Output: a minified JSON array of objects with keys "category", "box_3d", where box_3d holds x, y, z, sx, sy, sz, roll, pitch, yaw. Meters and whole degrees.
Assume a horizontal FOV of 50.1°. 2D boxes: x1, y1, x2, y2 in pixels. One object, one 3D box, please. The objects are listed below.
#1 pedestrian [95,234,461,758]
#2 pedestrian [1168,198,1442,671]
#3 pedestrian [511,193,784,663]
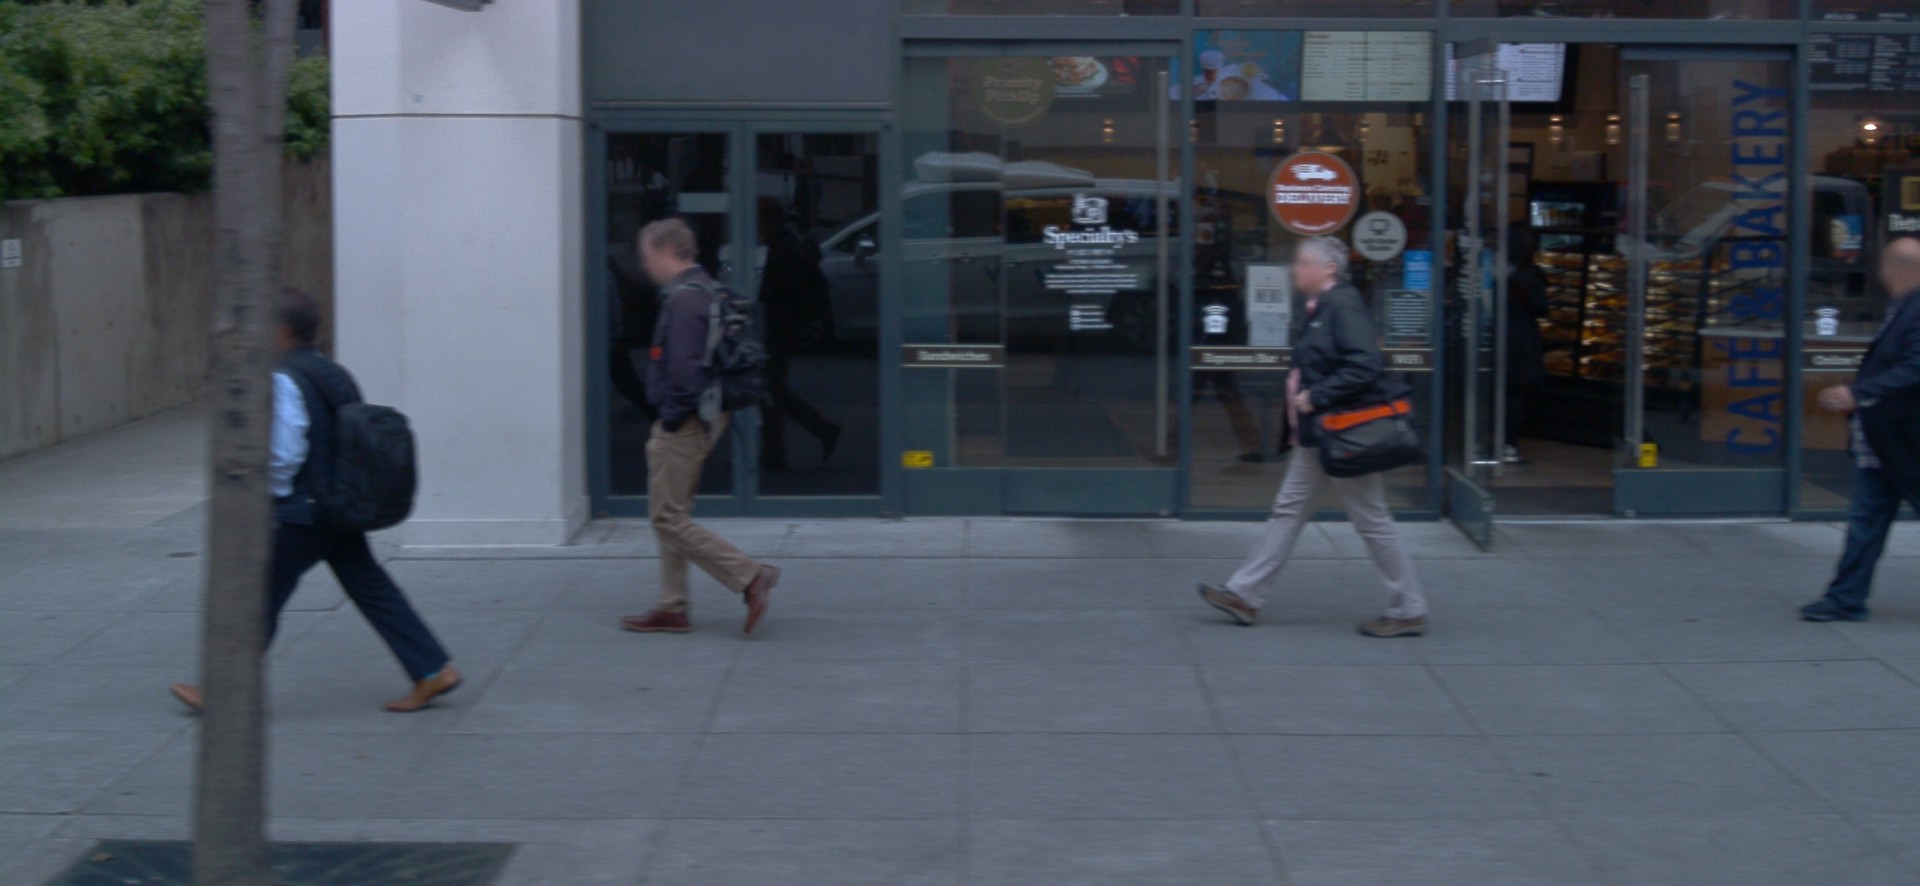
[{"category":"pedestrian","box_3d":[-2.465,0.135,7.542,1.018,1.803,0.895,0,1,3]},{"category":"pedestrian","box_3d":[1.423,-0.083,8.674,1.072,1.879,0.936,0,1,5]},{"category":"pedestrian","box_3d":[-1.283,-0.102,8.608,0.986,1.873,0.800,0,1,3]}]
